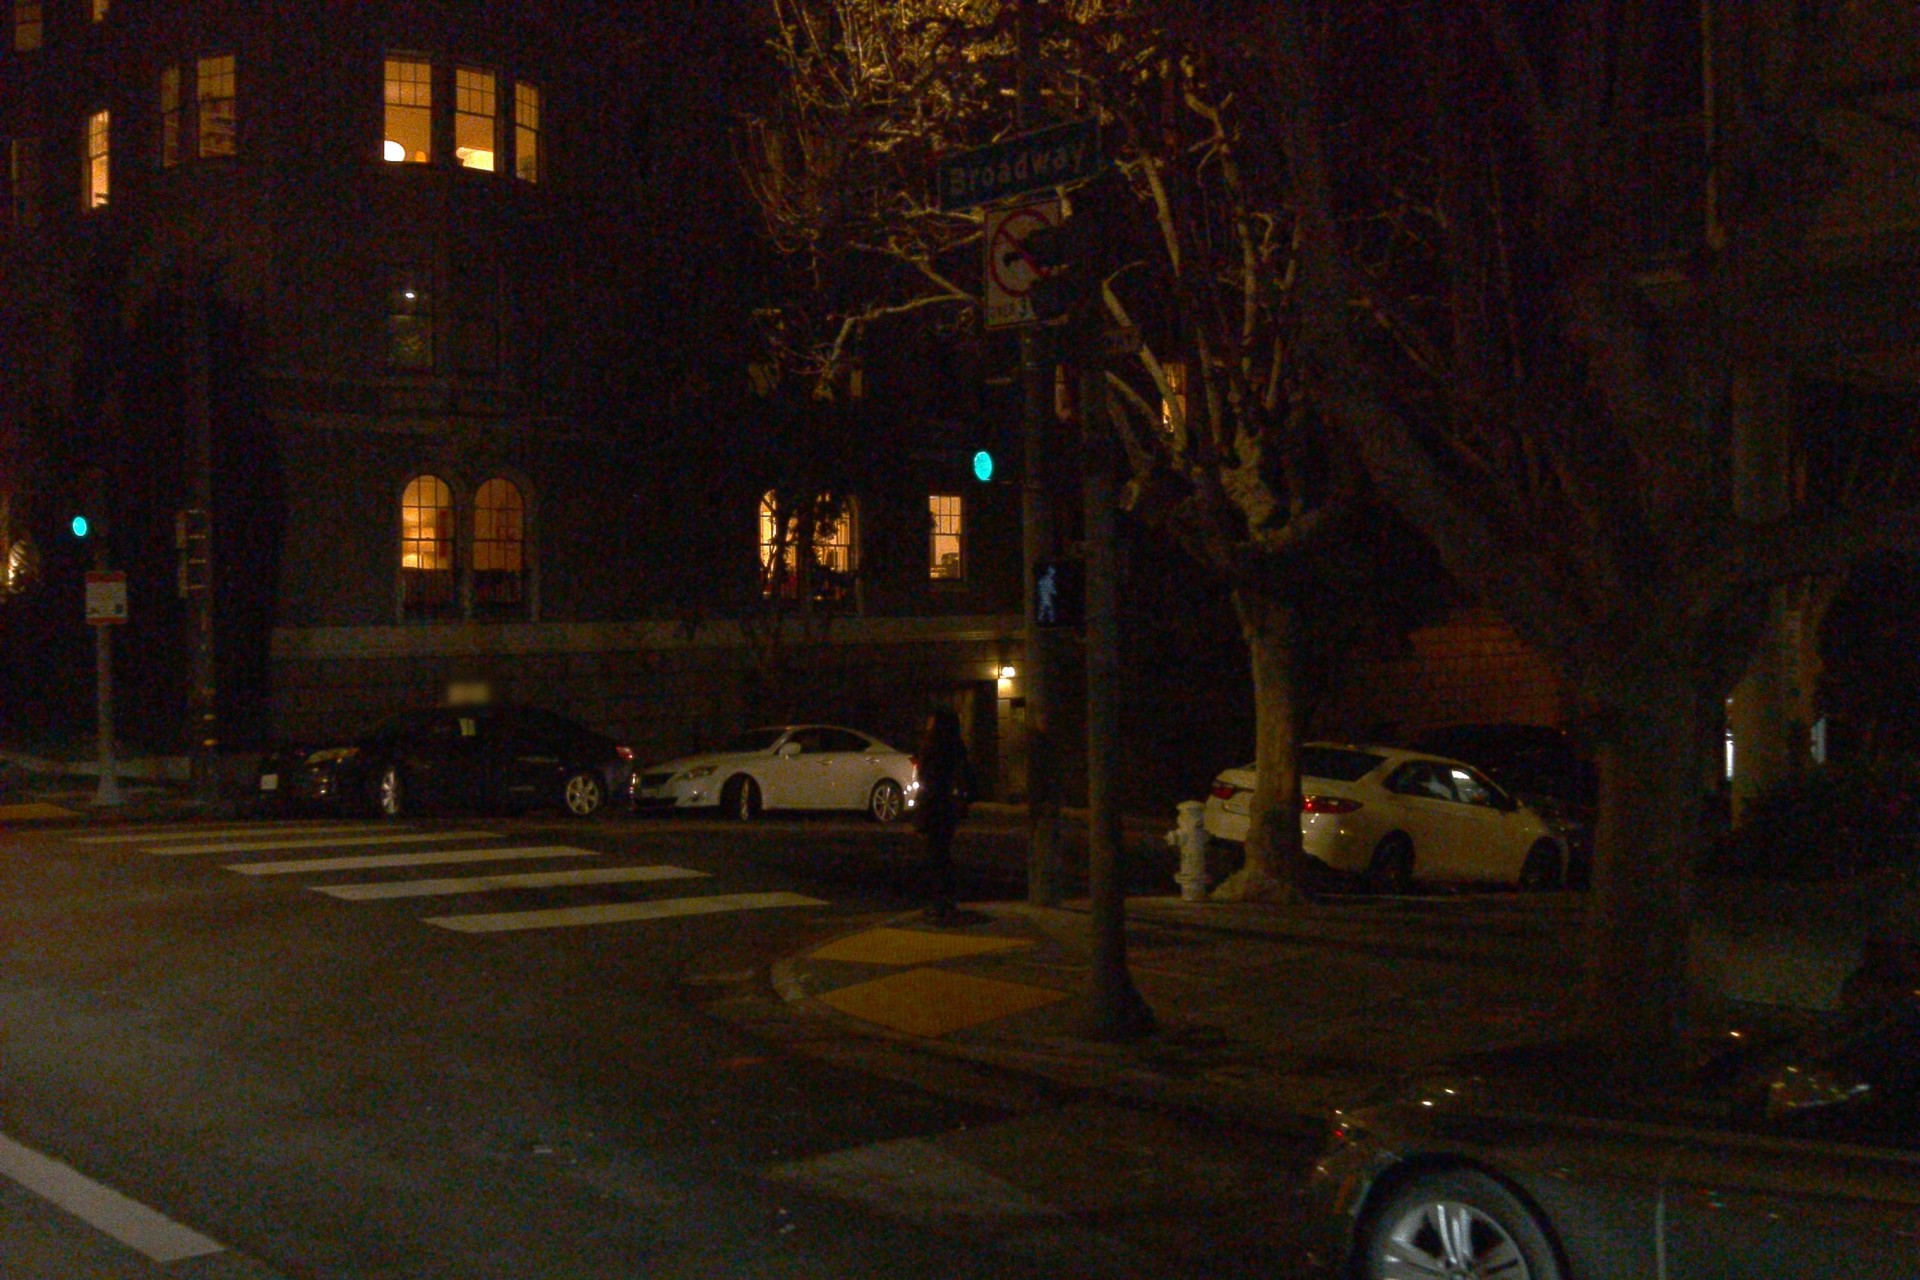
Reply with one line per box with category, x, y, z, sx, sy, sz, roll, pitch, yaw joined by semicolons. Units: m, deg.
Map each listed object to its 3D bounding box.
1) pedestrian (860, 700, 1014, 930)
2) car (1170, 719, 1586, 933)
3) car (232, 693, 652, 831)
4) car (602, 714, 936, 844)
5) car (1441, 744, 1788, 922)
pedestrian;-0.175;1.240;14.945;0.707;1.570;0.903;0;0;-38
car;4.440;1.814;21.377;4.554;1.811;1.990;0;0;-44
car;-6.095;1.385;24.619;1.838;1.362;4.644;1;0;42
car;-2.563;1.849;28.425;1.919;1.482;4.488;1;0;42
car;8.189;2.289;25.442;4.887;1.744;1.990;0;0;-44
